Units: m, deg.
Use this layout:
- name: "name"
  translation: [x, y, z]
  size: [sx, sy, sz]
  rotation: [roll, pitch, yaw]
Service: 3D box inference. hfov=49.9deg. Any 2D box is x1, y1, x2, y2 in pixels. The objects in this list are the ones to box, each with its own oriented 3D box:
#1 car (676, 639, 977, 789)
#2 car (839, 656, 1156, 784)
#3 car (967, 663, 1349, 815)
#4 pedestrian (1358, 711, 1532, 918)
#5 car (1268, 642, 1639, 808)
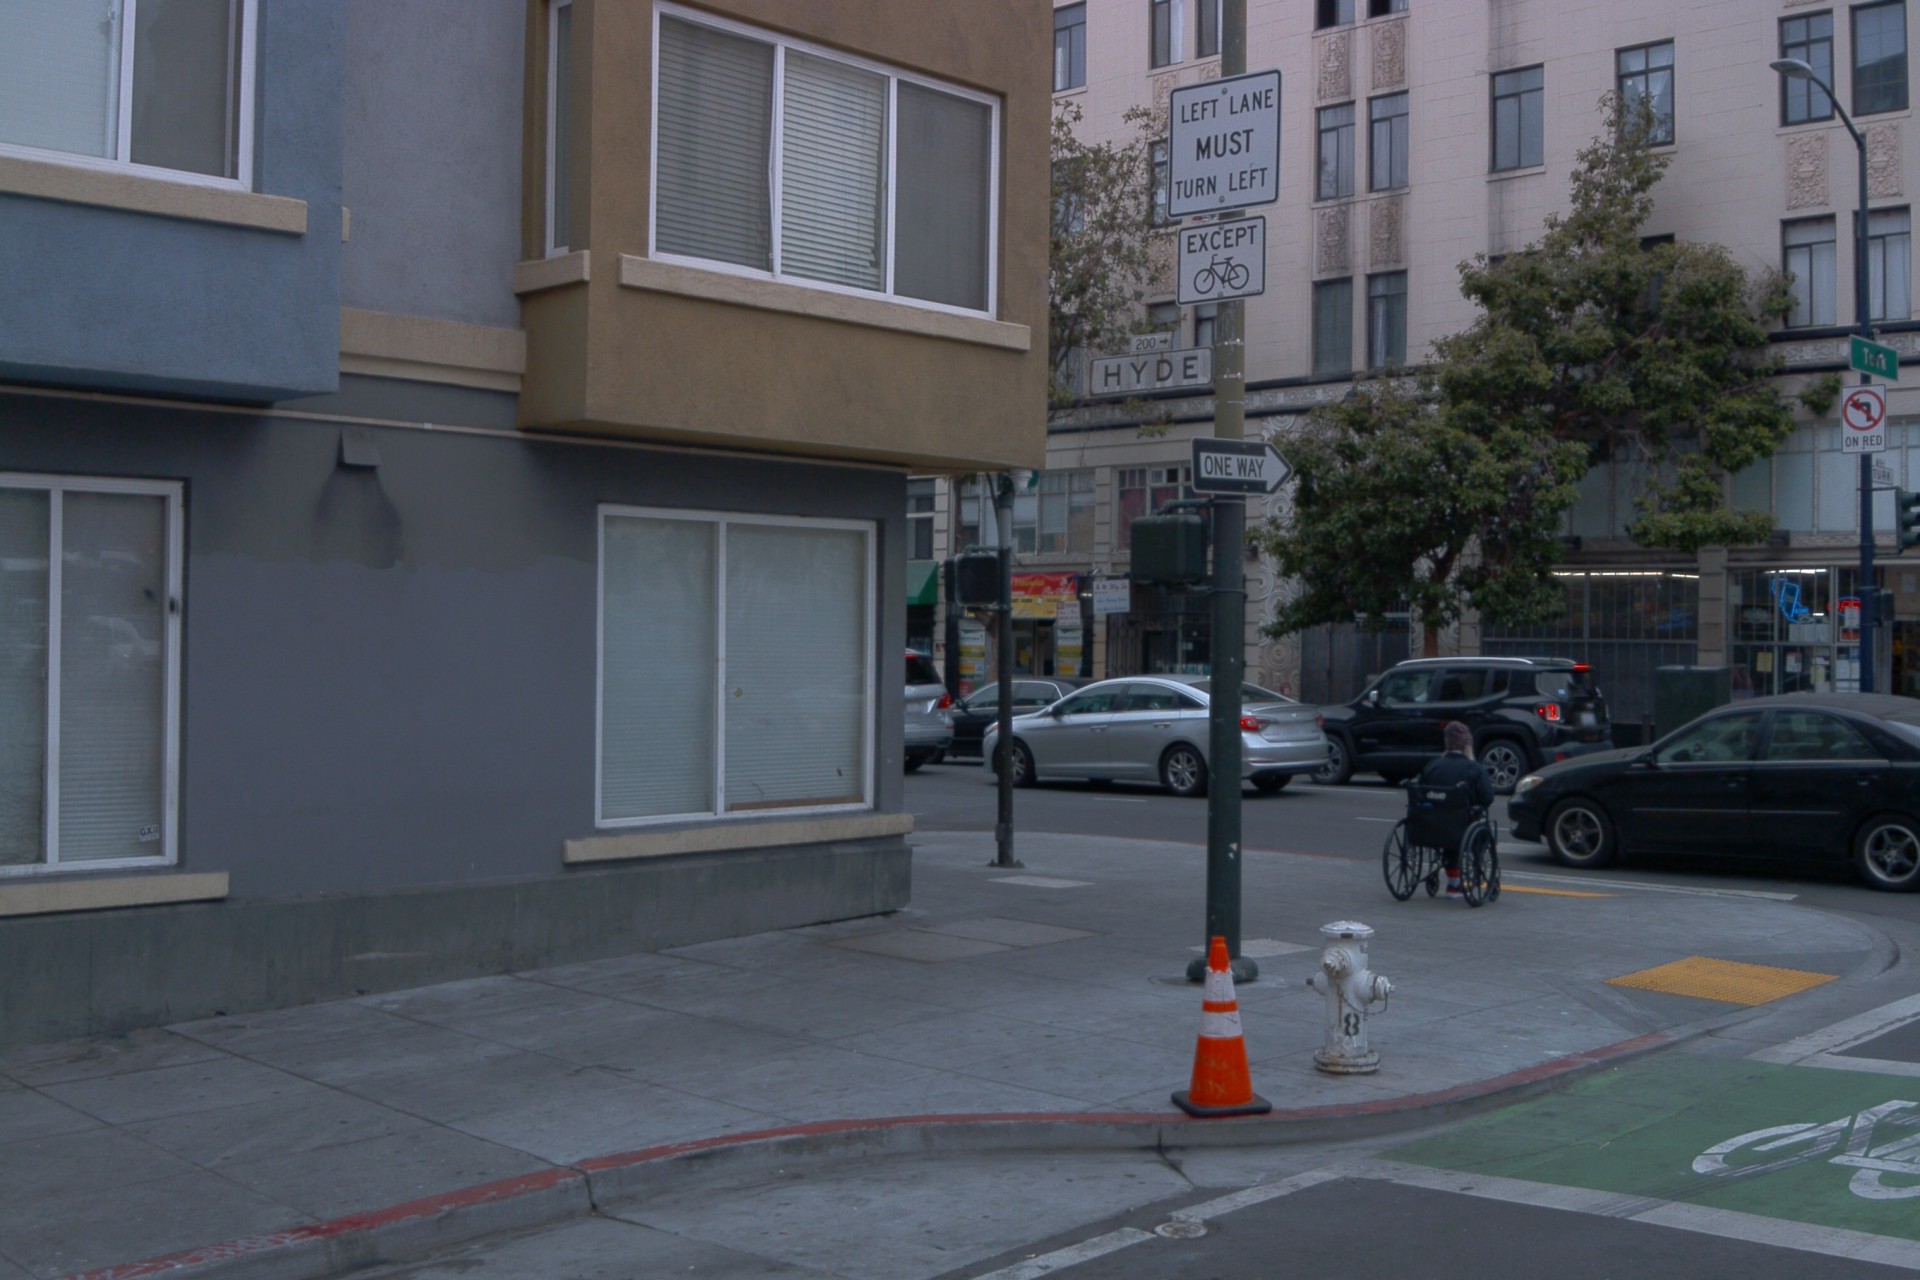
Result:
- name: "car"
  translation: [-2.052, 1.016, 30.634]
  size: [2.026, 1.970, 4.585]
  rotation: [-1, 1, -43]
- name: "car"
  translation: [0.517, 1.178, 32.333]
  size: [4.786, 1.723, 2.180]
  rotation: [1, 1, 45]
- name: "car"
  translation: [2.399, 1.157, 25.912]
  size: [1.939, 1.600, 4.599]
  rotation: [-1, 1, -44]
- name: "pedestrian"
  translation: [3.544, 1.239, 15.058]
  size: [0.883, 1.370, 1.026]
  rotation: [1, 1, 38]
- name: "car"
  translation: [6.235, 0.999, 26.413]
  size: [1.925, 1.870, 4.231]
  rotation: [-1, 1, -45]
